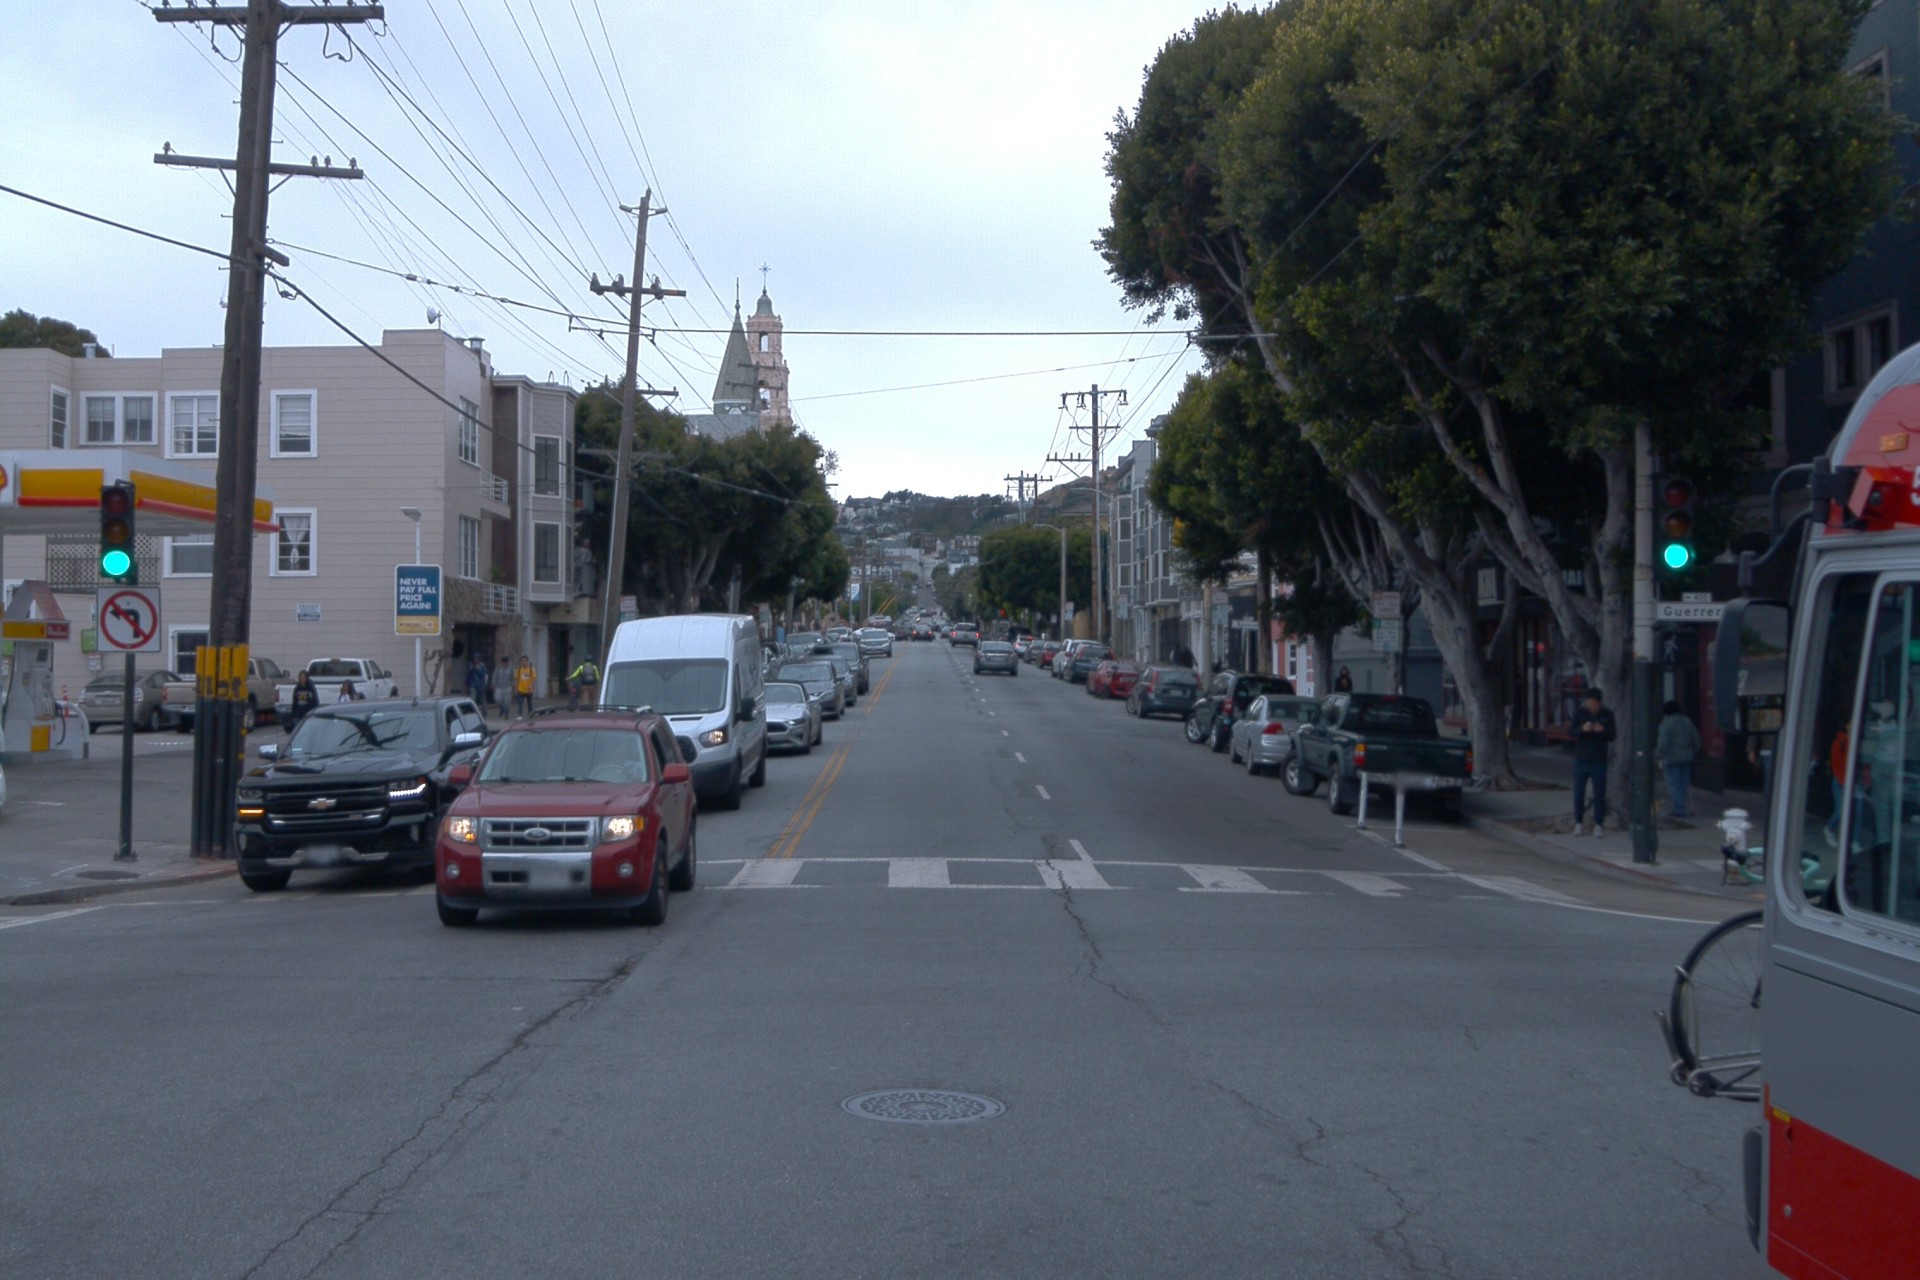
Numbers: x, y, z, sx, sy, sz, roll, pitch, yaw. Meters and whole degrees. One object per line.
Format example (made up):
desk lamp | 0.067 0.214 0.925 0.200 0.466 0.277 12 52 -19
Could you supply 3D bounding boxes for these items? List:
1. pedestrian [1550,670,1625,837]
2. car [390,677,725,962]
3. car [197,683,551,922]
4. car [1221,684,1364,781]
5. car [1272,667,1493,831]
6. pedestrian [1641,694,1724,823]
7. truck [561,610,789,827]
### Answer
pedestrian | 7.814 1.397 25.632 0.809 2.030 0.725 0 1 11
car | -3.315 1.411 17.872 2.093 2.009 4.395 0 1 -1
car | -6.116 1.599 22.351 2.330 2.022 5.827 0 1 -2
car | 6.025 1.646 37.716 1.898 1.500 4.511 0 1 0
car | 6.138 1.520 30.565 2.094 2.060 5.275 0 1 -1
pedestrian | 9.723 1.577 27.708 0.927 1.670 0.894 0 1 11
truck | -3.977 0.984 29.962 2.532 2.820 6.114 0 1 -1
